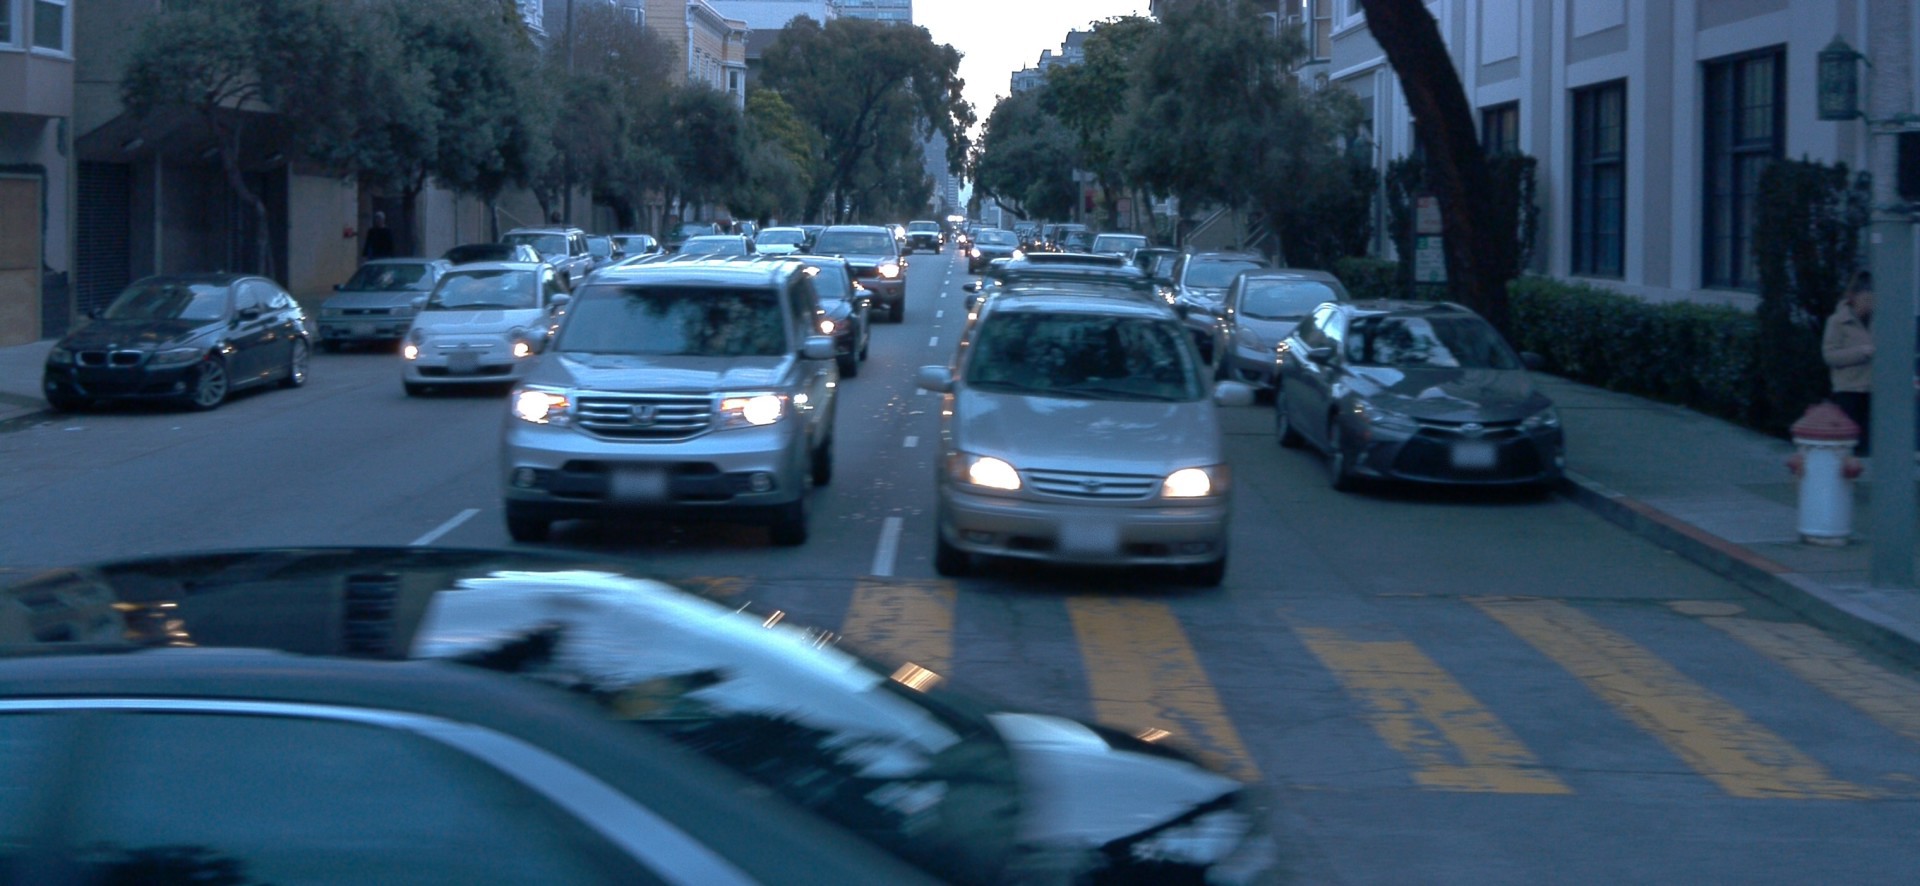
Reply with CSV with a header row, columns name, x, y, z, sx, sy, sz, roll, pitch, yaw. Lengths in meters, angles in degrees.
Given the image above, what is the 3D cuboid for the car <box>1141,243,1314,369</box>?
name,x,y,z,sx,sy,sz,roll,pitch,yaw
car,4.003,-2.168,31.530,2.149,1.671,4.783,1,6,2

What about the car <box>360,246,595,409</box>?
name,x,y,z,sx,sy,sz,roll,pitch,yaw
car,-5.602,-1.438,24.297,1.953,1.692,3.529,1,5,0

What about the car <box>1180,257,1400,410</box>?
name,x,y,z,sx,sy,sz,roll,pitch,yaw
car,3.960,-1.430,25.426,2.113,1.592,4.335,1,6,1

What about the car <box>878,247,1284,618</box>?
name,x,y,z,sx,sy,sz,roll,pitch,yaw
car,0.683,-0.295,13.949,2.235,1.940,5.017,1,6,0

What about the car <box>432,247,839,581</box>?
name,x,y,z,sx,sy,sz,roll,pitch,yaw
car,-2.095,-0.399,14.762,2.265,1.890,4.771,1,6,-2

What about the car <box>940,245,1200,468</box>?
name,x,y,z,sx,sy,sz,roll,pitch,yaw
car,1.000,-0.991,20.294,2.225,1.810,5.016,1,6,1

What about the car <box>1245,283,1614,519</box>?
name,x,y,z,sx,sy,sz,roll,pitch,yaw
car,3.936,-0.513,18.208,2.149,1.601,4.929,1,6,0

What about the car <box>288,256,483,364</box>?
name,x,y,z,sx,sy,sz,roll,pitch,yaw
car,-8.751,-2.110,31.700,1.863,1.422,4.269,1,6,-1

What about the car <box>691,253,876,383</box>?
name,x,y,z,sx,sy,sz,roll,pitch,yaw
car,-2.236,-1.728,27.261,2.069,1.462,4.411,1,6,0

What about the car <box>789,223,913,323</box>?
name,x,y,z,sx,sy,sz,roll,pitch,yaw
car,-2.008,-3.300,39.231,2.208,1.721,5.036,1,6,-1
